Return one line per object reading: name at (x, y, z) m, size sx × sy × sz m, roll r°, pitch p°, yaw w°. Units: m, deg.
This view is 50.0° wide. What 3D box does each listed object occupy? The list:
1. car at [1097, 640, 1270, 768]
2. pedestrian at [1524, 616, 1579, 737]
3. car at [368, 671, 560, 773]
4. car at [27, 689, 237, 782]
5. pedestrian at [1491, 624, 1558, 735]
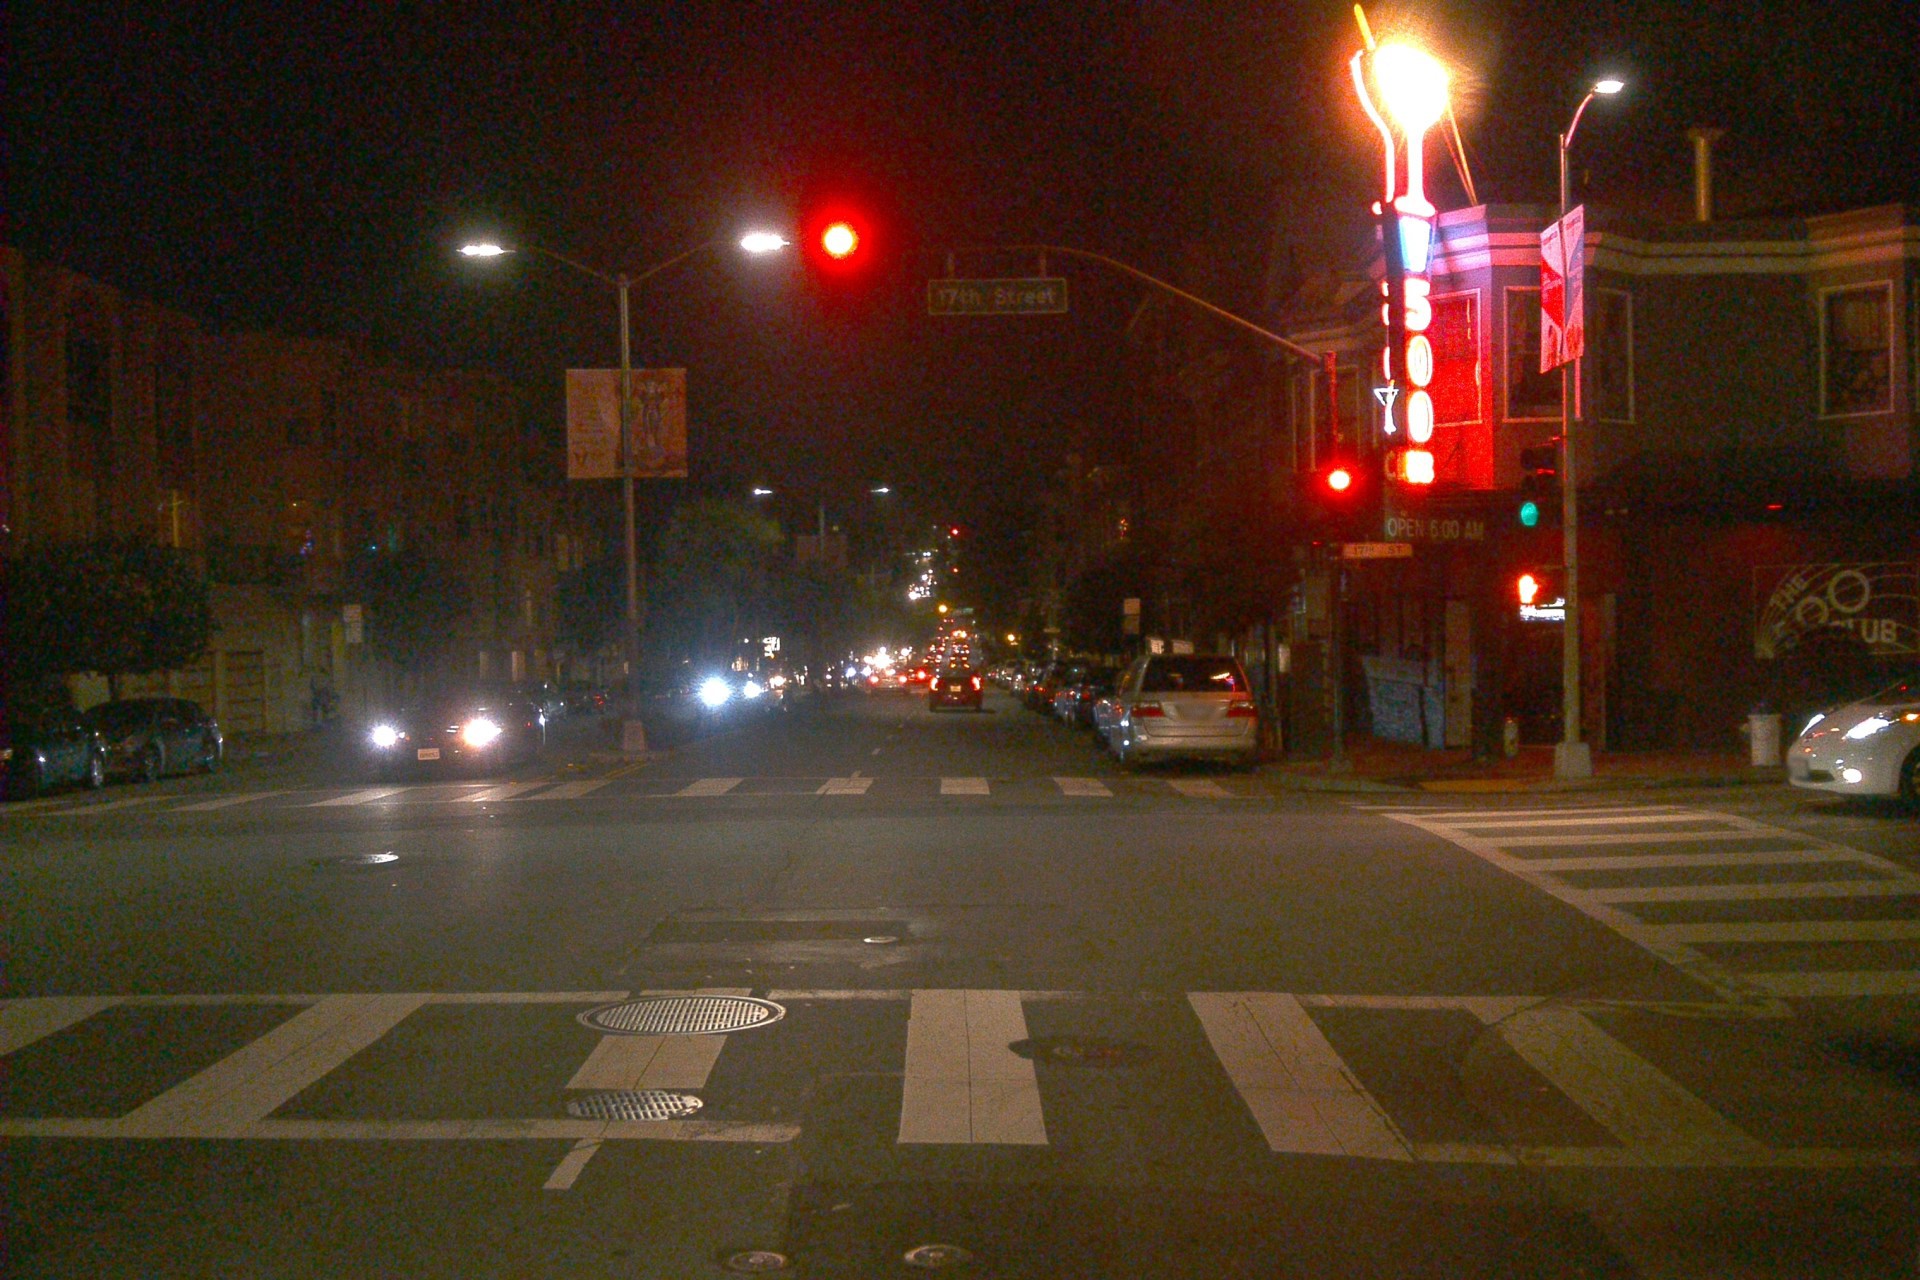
car at (3.272, 0.892, 31.033) m, size 2.087 × 1.770 × 4.655 m, roll 1°, pitch 0°, yaw 0°
pedestrian at (9.037, 0.546, 31.399) m, size 0.739 × 1.820 × 0.628 m, roll 1°, pitch 0°, yaw 20°
car at (-7.639, 1.225, 32.098) m, size 1.903 × 1.390 × 4.511 m, roll 1°, pitch 0°, yaw 0°
car at (-14.092, 1.586, 35.255) m, size 1.806 × 1.380 × 4.118 m, roll 1°, pitch 0°, yaw 2°
pedestrian at (8.799, 0.611, 32.068) m, size 0.721 × 1.720 × 0.691 m, roll 1°, pitch 0°, yaw -18°
